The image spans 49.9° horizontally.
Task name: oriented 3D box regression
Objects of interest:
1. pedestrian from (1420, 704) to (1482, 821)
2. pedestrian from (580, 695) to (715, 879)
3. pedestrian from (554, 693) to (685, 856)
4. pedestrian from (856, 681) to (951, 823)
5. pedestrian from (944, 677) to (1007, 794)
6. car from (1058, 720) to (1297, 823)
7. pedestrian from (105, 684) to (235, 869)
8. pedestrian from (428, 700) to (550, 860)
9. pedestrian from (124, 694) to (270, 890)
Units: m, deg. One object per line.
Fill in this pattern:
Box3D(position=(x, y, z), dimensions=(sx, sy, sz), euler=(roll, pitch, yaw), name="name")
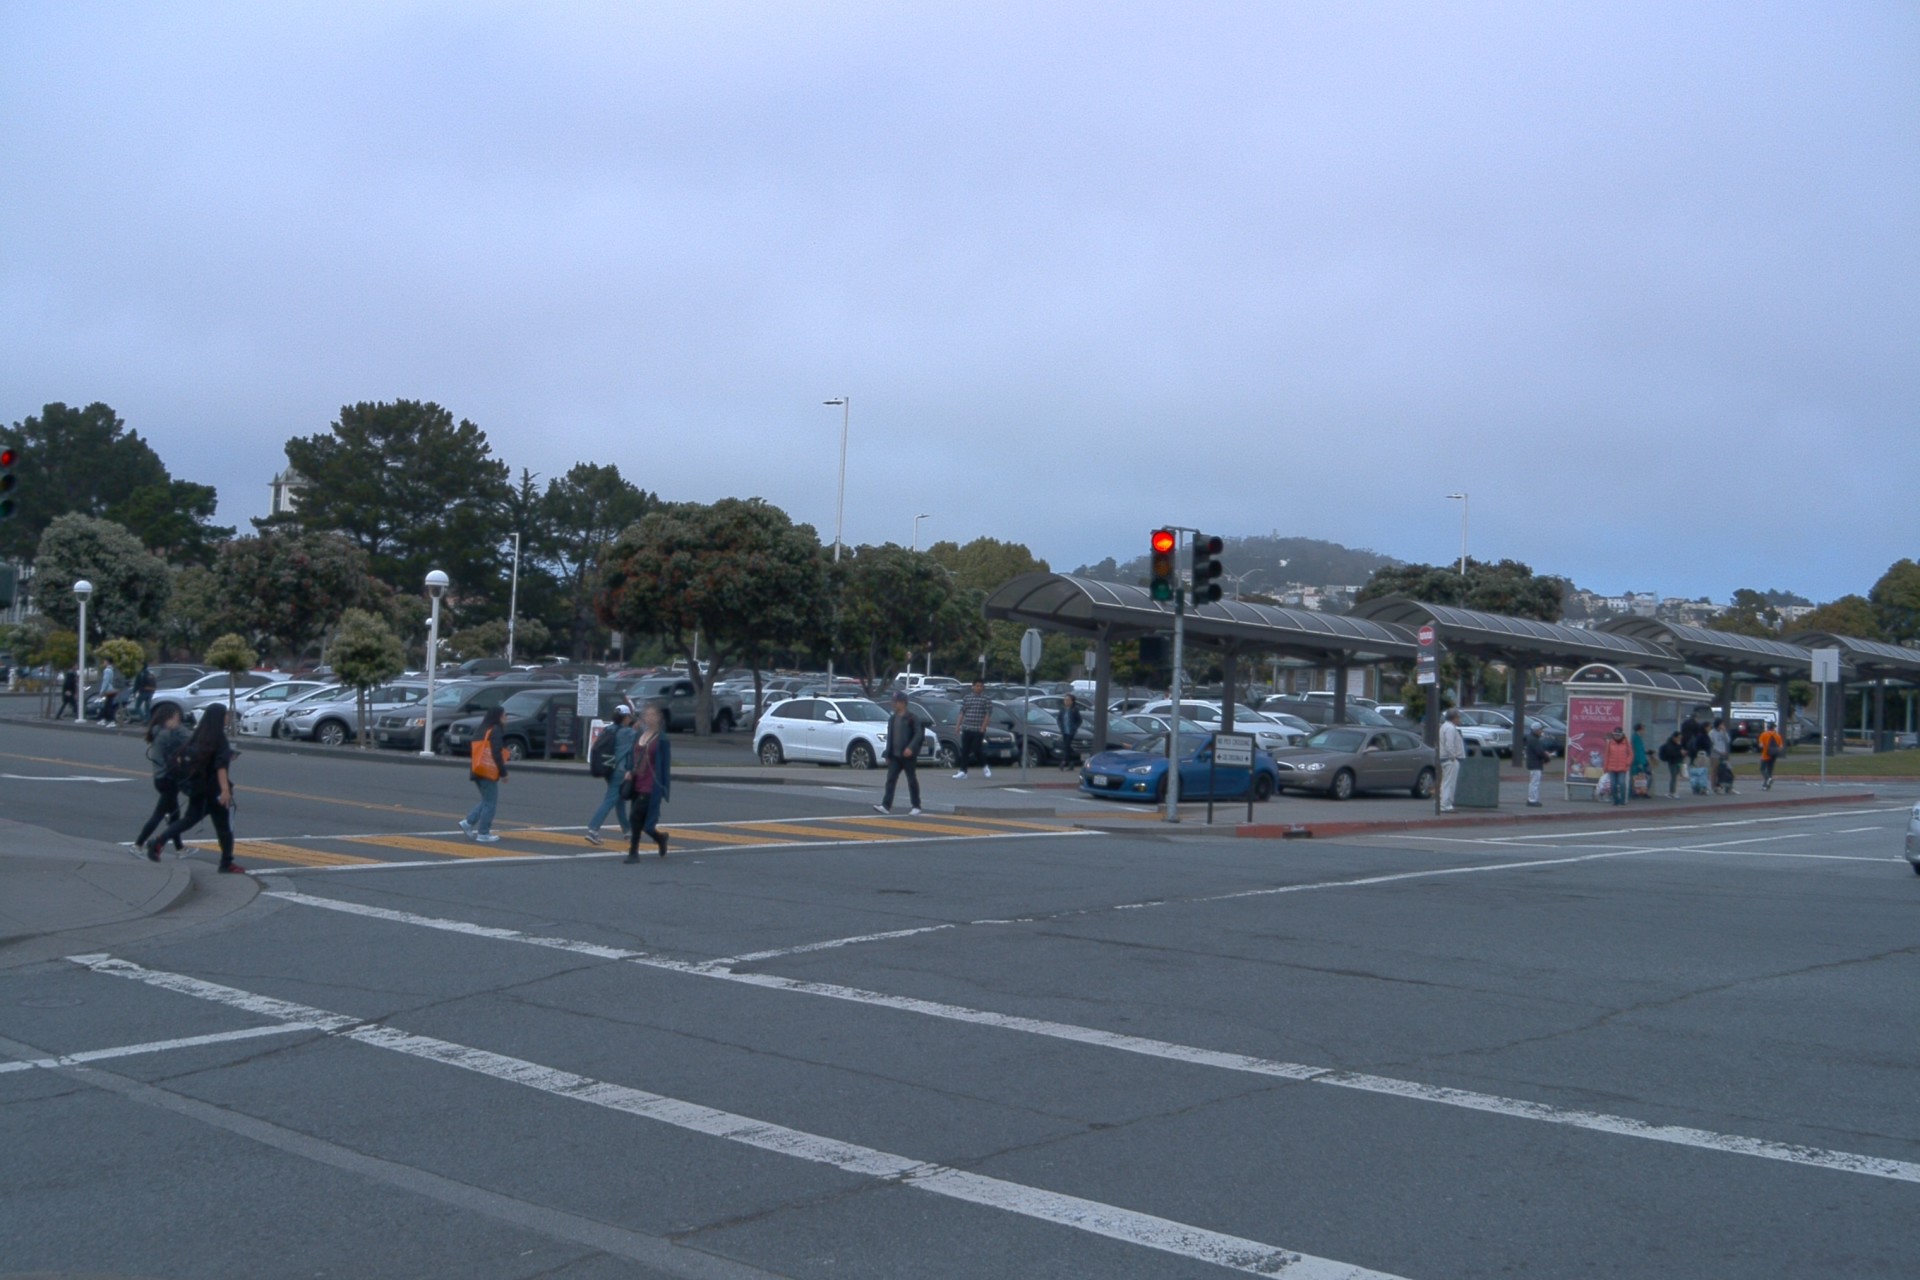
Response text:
Box3D(position=(8.395, 2.079, 35.266), dimensions=(0.848, 1.930, 0.853), euler=(0, 1, 28), name="pedestrian")
Box3D(position=(-3.223, 1.489, 21.359), dimensions=(0.830, 1.790, 1.157), euler=(0, 1, 30), name="pedestrian")
Box3D(position=(-3.831, 1.489, 23.231), dimensions=(0.928, 1.720, 1.113), euler=(1, 1, 42), name="pedestrian")
Box3D(position=(-0.812, 1.596, 29.848), dimensions=(0.865, 1.960, 1.135), euler=(0, 1, 36), name="pedestrian")
Box3D(position=(0.295, 1.760, 38.451), dimensions=(0.774, 2.110, 1.080), euler=(0, 1, 26), name="pedestrian")
Box3D(position=(3.968, 2.323, 37.223), dimensions=(4.281, 1.520, 1.972), euler=(-1, 1, -44), name="car")
Box3D(position=(-7.611, 1.291, 19.894), dimensions=(0.724, 1.690, 0.898), euler=(0, 1, 32), name="pedestrian")
Box3D(position=(-5.298, 1.551, 23.237), dimensions=(1.112, 1.690, 0.745), euler=(-1, 1, -40), name="pedestrian")
Box3D(position=(-6.905, 1.346, 18.701), dimensions=(0.770, 1.670, 0.961), euler=(0, 1, 34), name="pedestrian")
